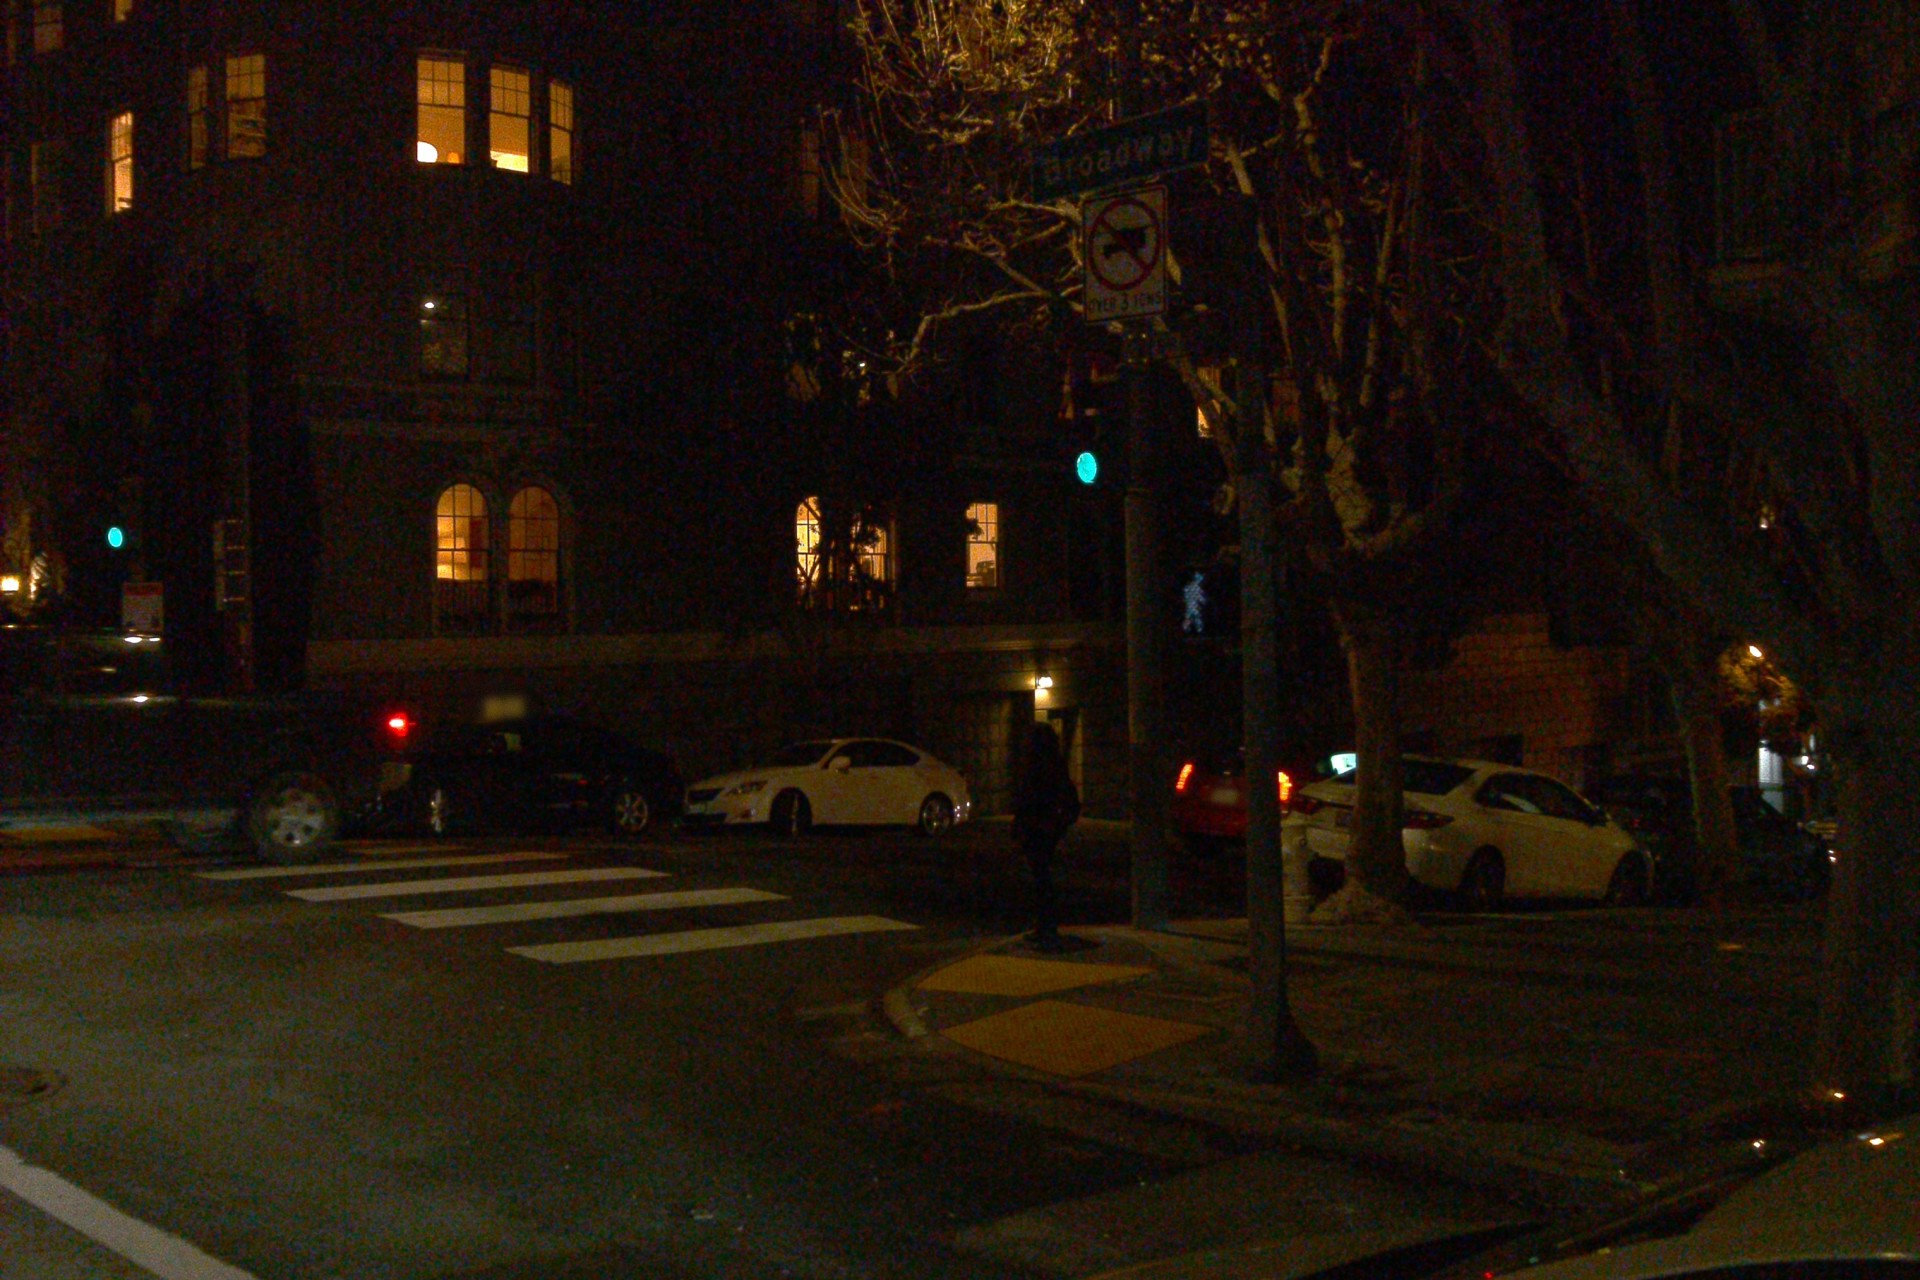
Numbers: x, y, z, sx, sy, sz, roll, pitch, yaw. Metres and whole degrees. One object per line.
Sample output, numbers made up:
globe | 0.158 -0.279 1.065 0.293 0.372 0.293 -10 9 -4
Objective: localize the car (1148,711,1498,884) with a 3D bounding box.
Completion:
car | 4.450 1.802 24.724 1.923 1.730 4.526 1 0 44

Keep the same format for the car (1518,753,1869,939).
car | 8.909 2.372 24.709 4.887 1.744 1.990 0 0 -44

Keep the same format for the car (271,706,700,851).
car | -5.407 1.528 23.895 1.838 1.362 4.644 1 0 42

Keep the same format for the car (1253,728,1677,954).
car | 5.160 1.895 20.644 4.554 1.811 1.990 0 0 -44

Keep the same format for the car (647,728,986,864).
car | -1.847 2.029 27.686 1.919 1.482 4.488 1 0 42

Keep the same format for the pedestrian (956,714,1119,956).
pedestrian | 0.533 1.319 14.249 0.707 1.570 0.903 0 0 -38
